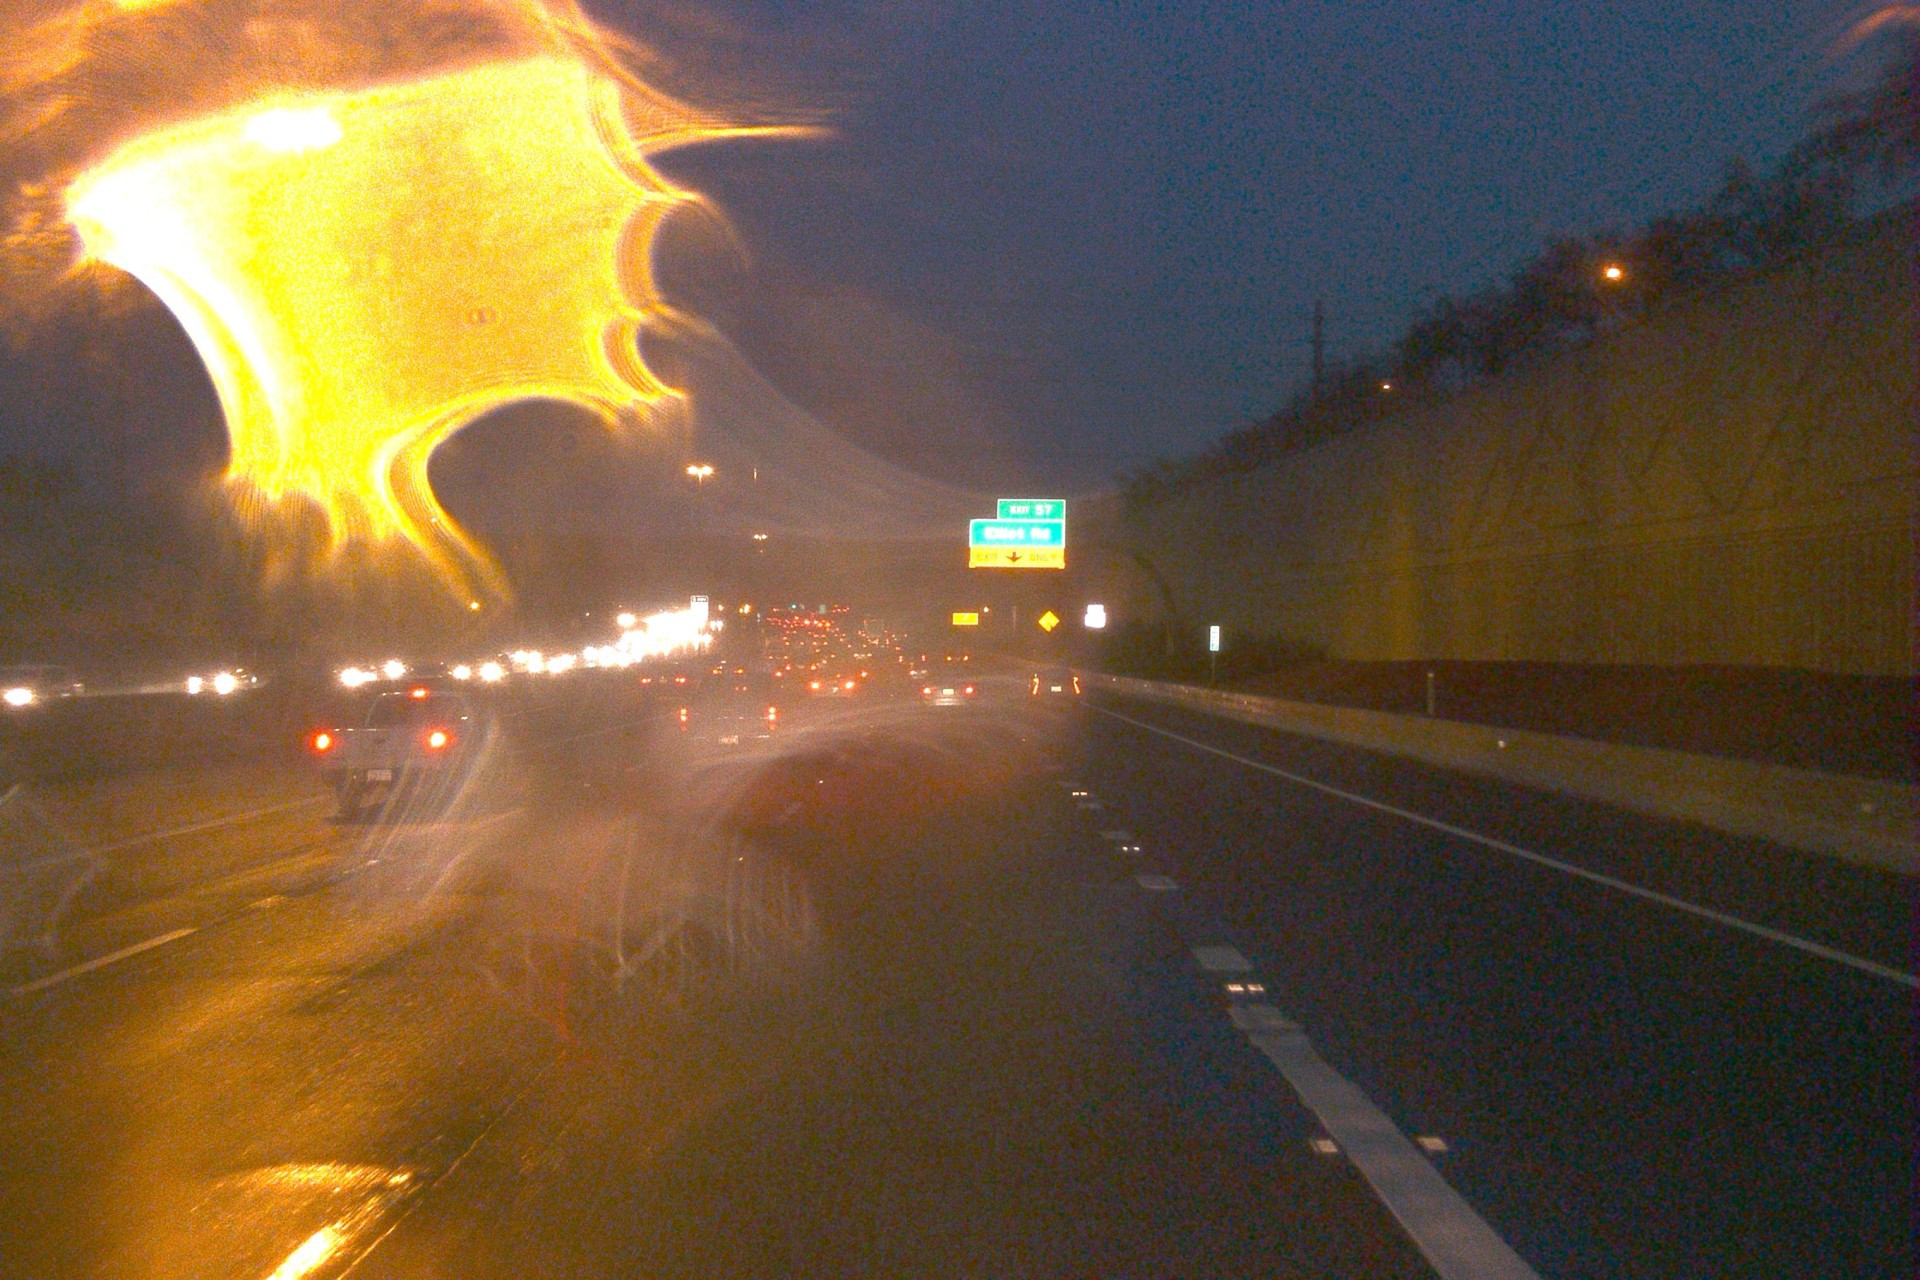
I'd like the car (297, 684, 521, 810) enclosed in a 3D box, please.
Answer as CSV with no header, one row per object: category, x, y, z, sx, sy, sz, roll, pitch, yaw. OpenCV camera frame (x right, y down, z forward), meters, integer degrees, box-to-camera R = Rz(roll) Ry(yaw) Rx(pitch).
car,-7.722,1.452,29.594,1.971,1.590,4.690,0,0,0

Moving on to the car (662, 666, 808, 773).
car,-4.006,1.383,37.776,2.160,1.790,5.004,0,0,0
